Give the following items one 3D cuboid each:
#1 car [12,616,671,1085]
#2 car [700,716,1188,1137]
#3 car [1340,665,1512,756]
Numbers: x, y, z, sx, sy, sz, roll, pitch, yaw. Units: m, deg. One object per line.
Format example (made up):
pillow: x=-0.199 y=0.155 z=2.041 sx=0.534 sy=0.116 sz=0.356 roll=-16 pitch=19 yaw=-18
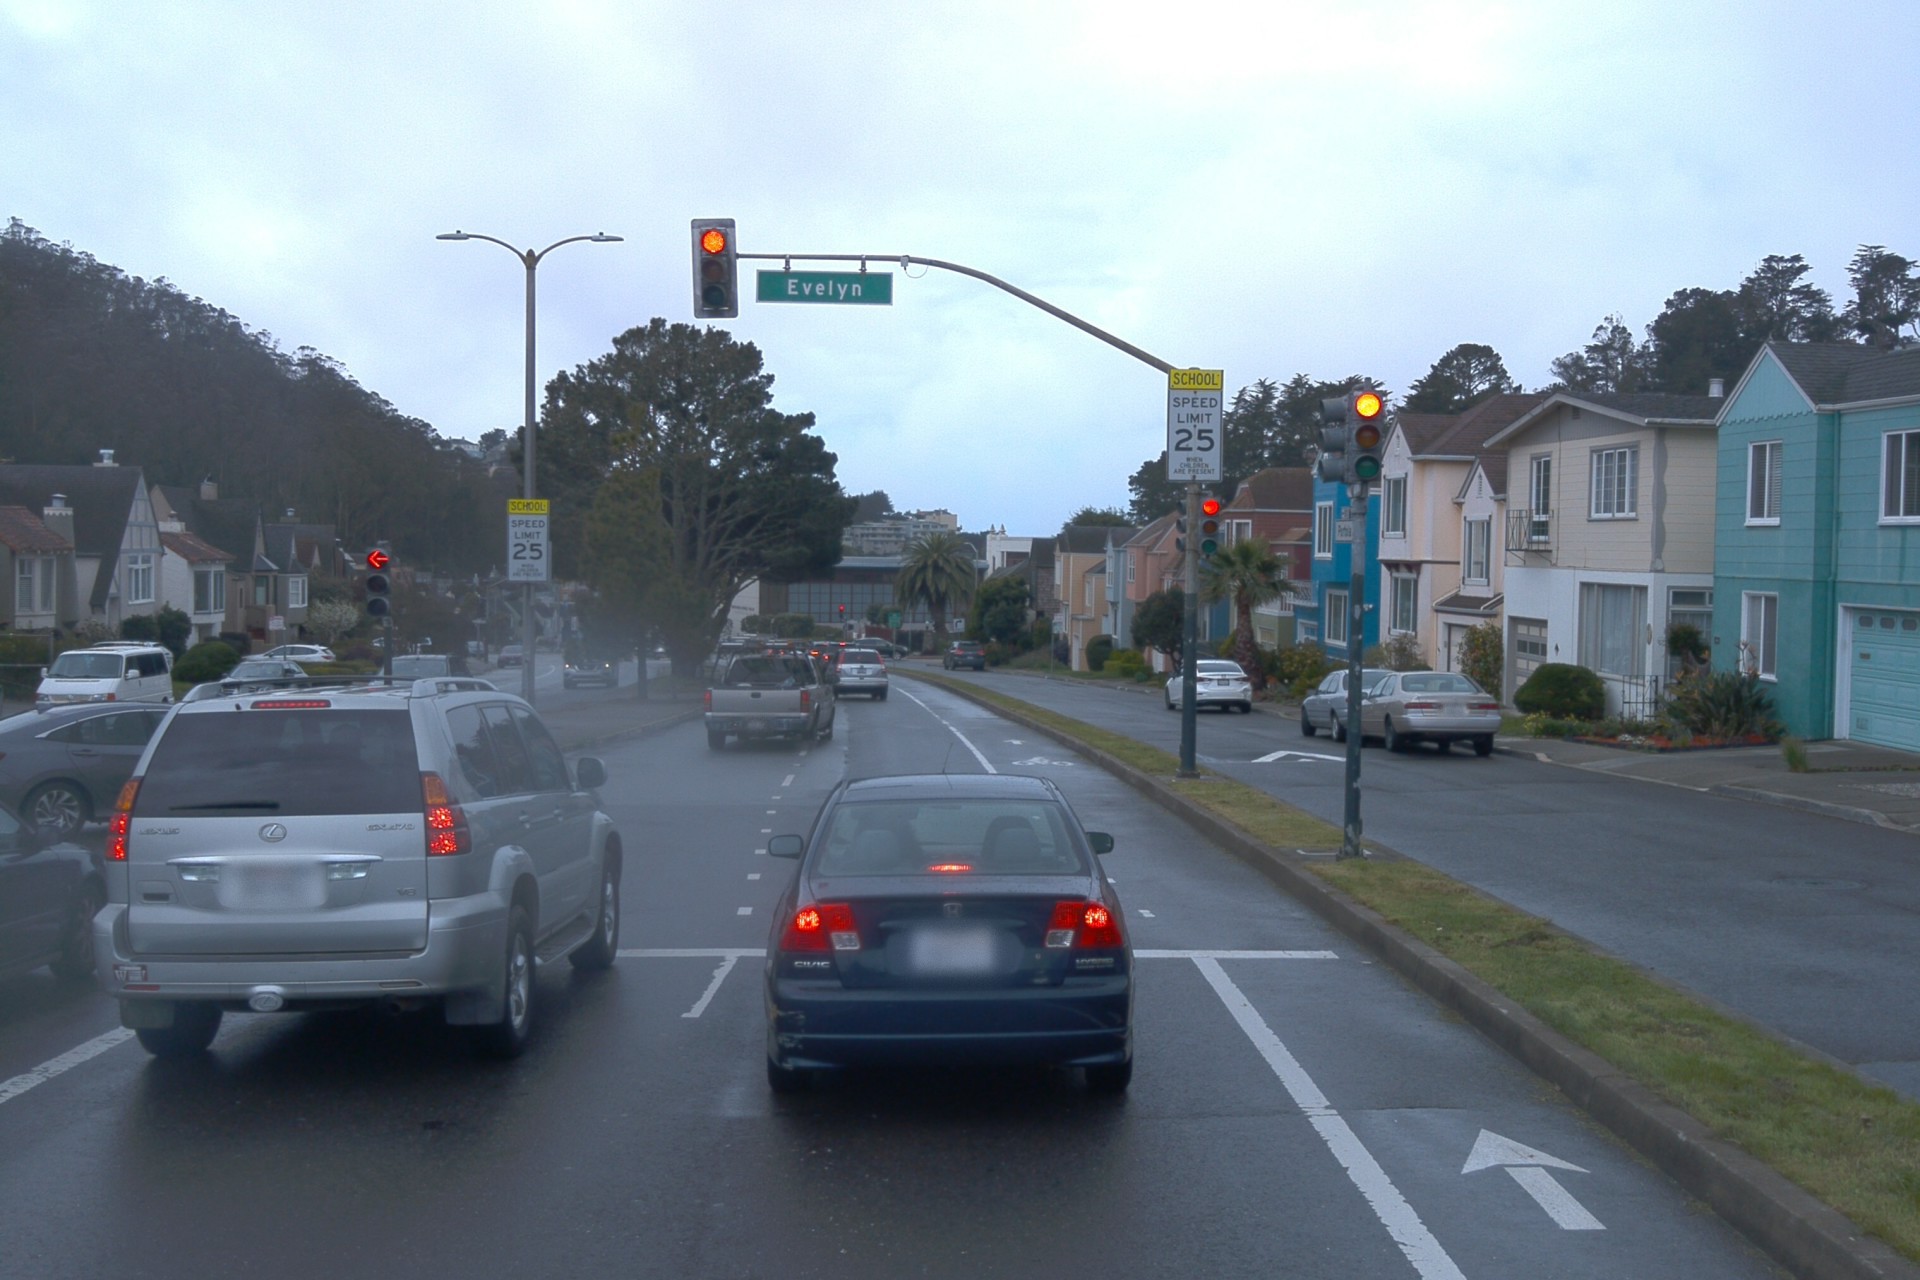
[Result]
car: x=-3.059 y=0.928 z=11.459 sx=2.249 sy=2.070 sz=4.734 roll=0 pitch=0 yaw=0
car: x=-0.107 y=1.250 z=10.547 sx=2.004 sy=1.570 sz=4.164 roll=0 pitch=0 yaw=-1
car: x=8.081 y=1.186 z=36.133 sx=1.755 sy=1.440 sz=4.469 roll=0 pitch=0 yaw=-4
